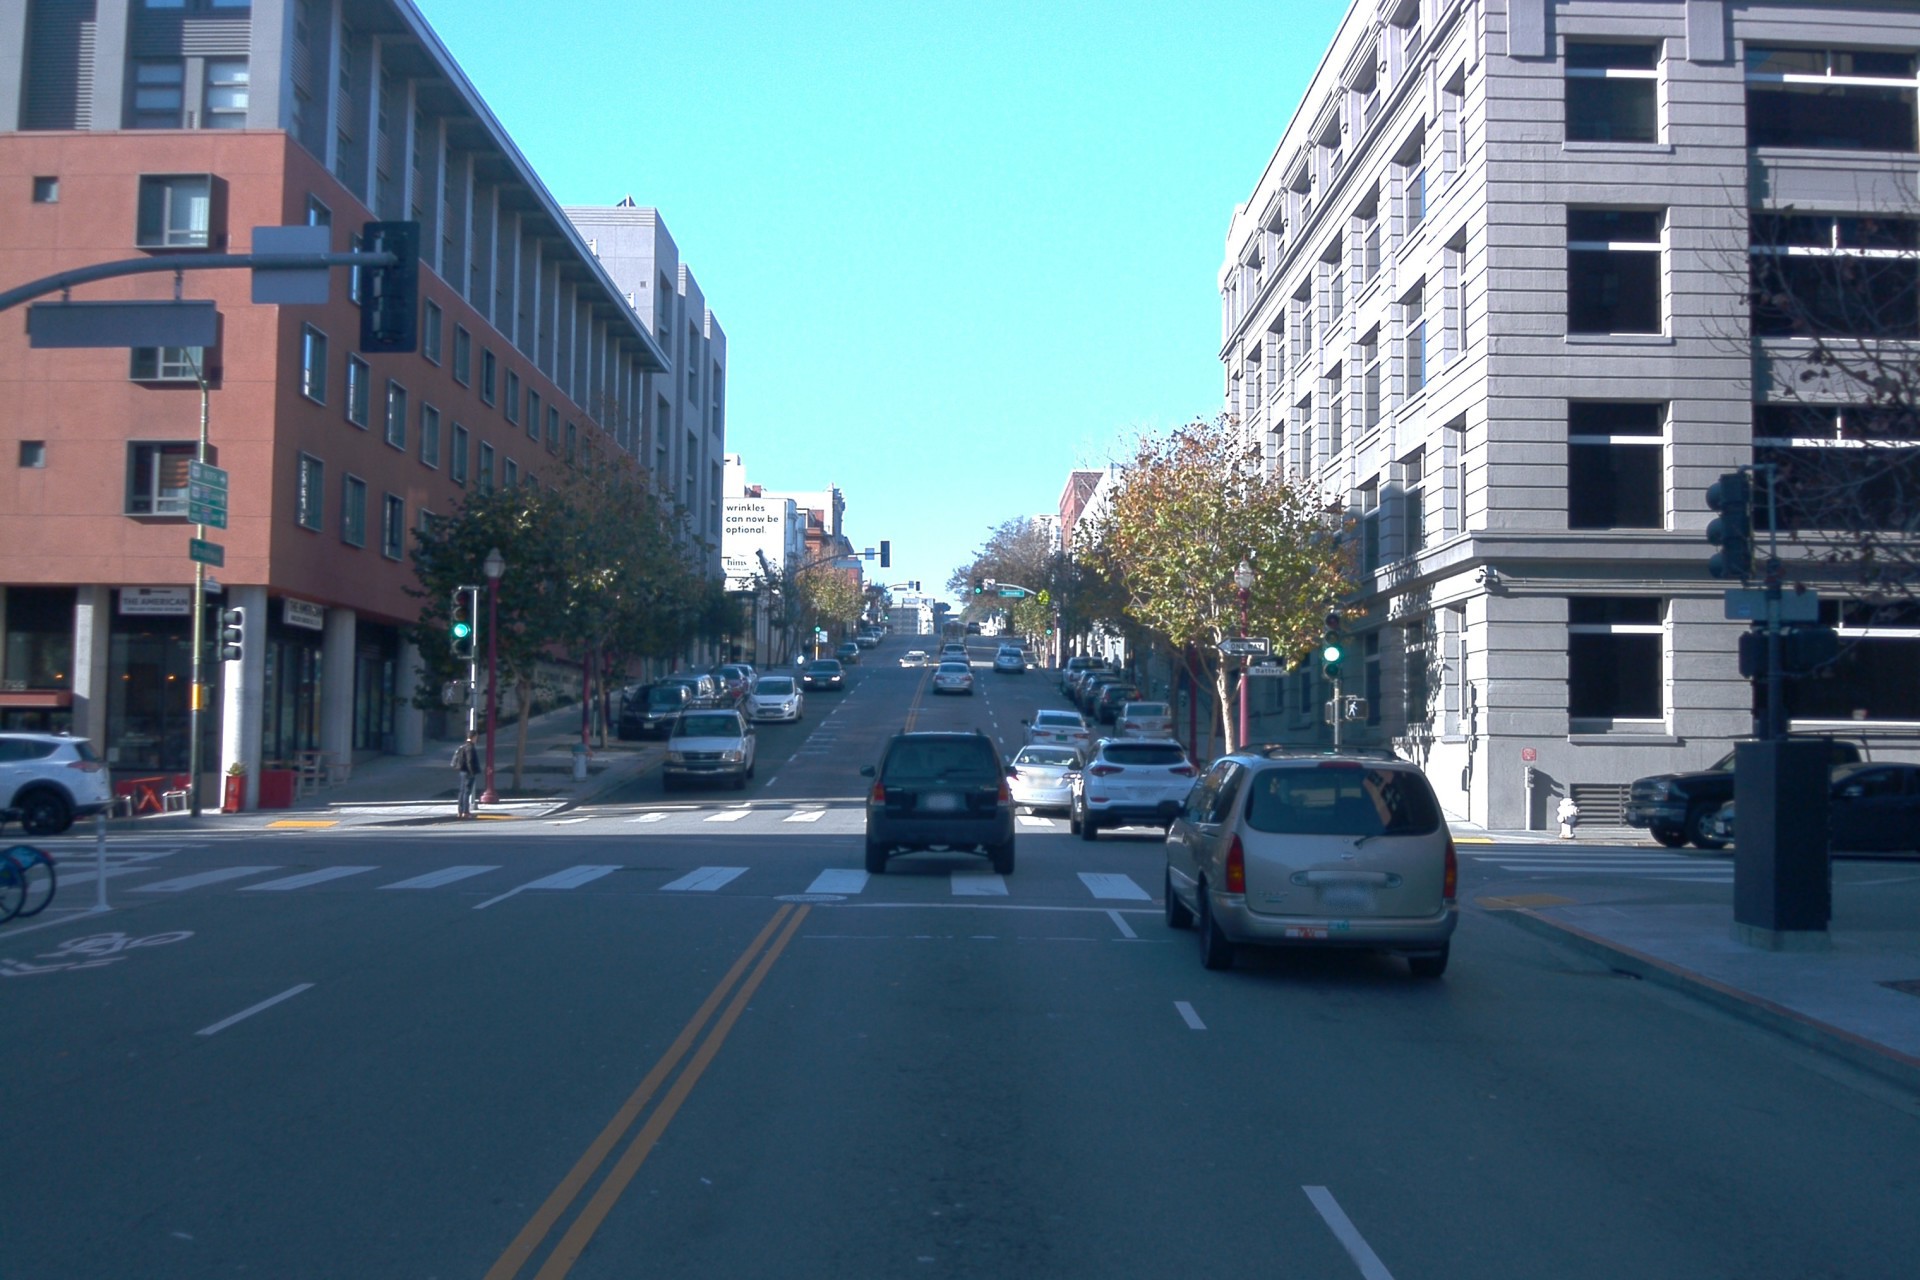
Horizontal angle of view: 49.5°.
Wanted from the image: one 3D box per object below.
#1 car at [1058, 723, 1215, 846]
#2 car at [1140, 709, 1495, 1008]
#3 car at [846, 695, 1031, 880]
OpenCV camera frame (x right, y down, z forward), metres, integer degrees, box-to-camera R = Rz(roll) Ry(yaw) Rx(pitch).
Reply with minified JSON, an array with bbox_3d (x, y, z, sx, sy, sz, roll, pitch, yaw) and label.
[{"bbox_3d":[2.815,2.304,34.199,2.088,1.800,4.683,1,-2,-1],"label":"car"},{"bbox_3d":[2.762,1.634,17.235,2.113,2.070,4.763,1,-2,0],"label":"car"},{"bbox_3d":[-0.280,1.760,26.236,2.096,2.100,4.544,1,-2,-1],"label":"car"}]
